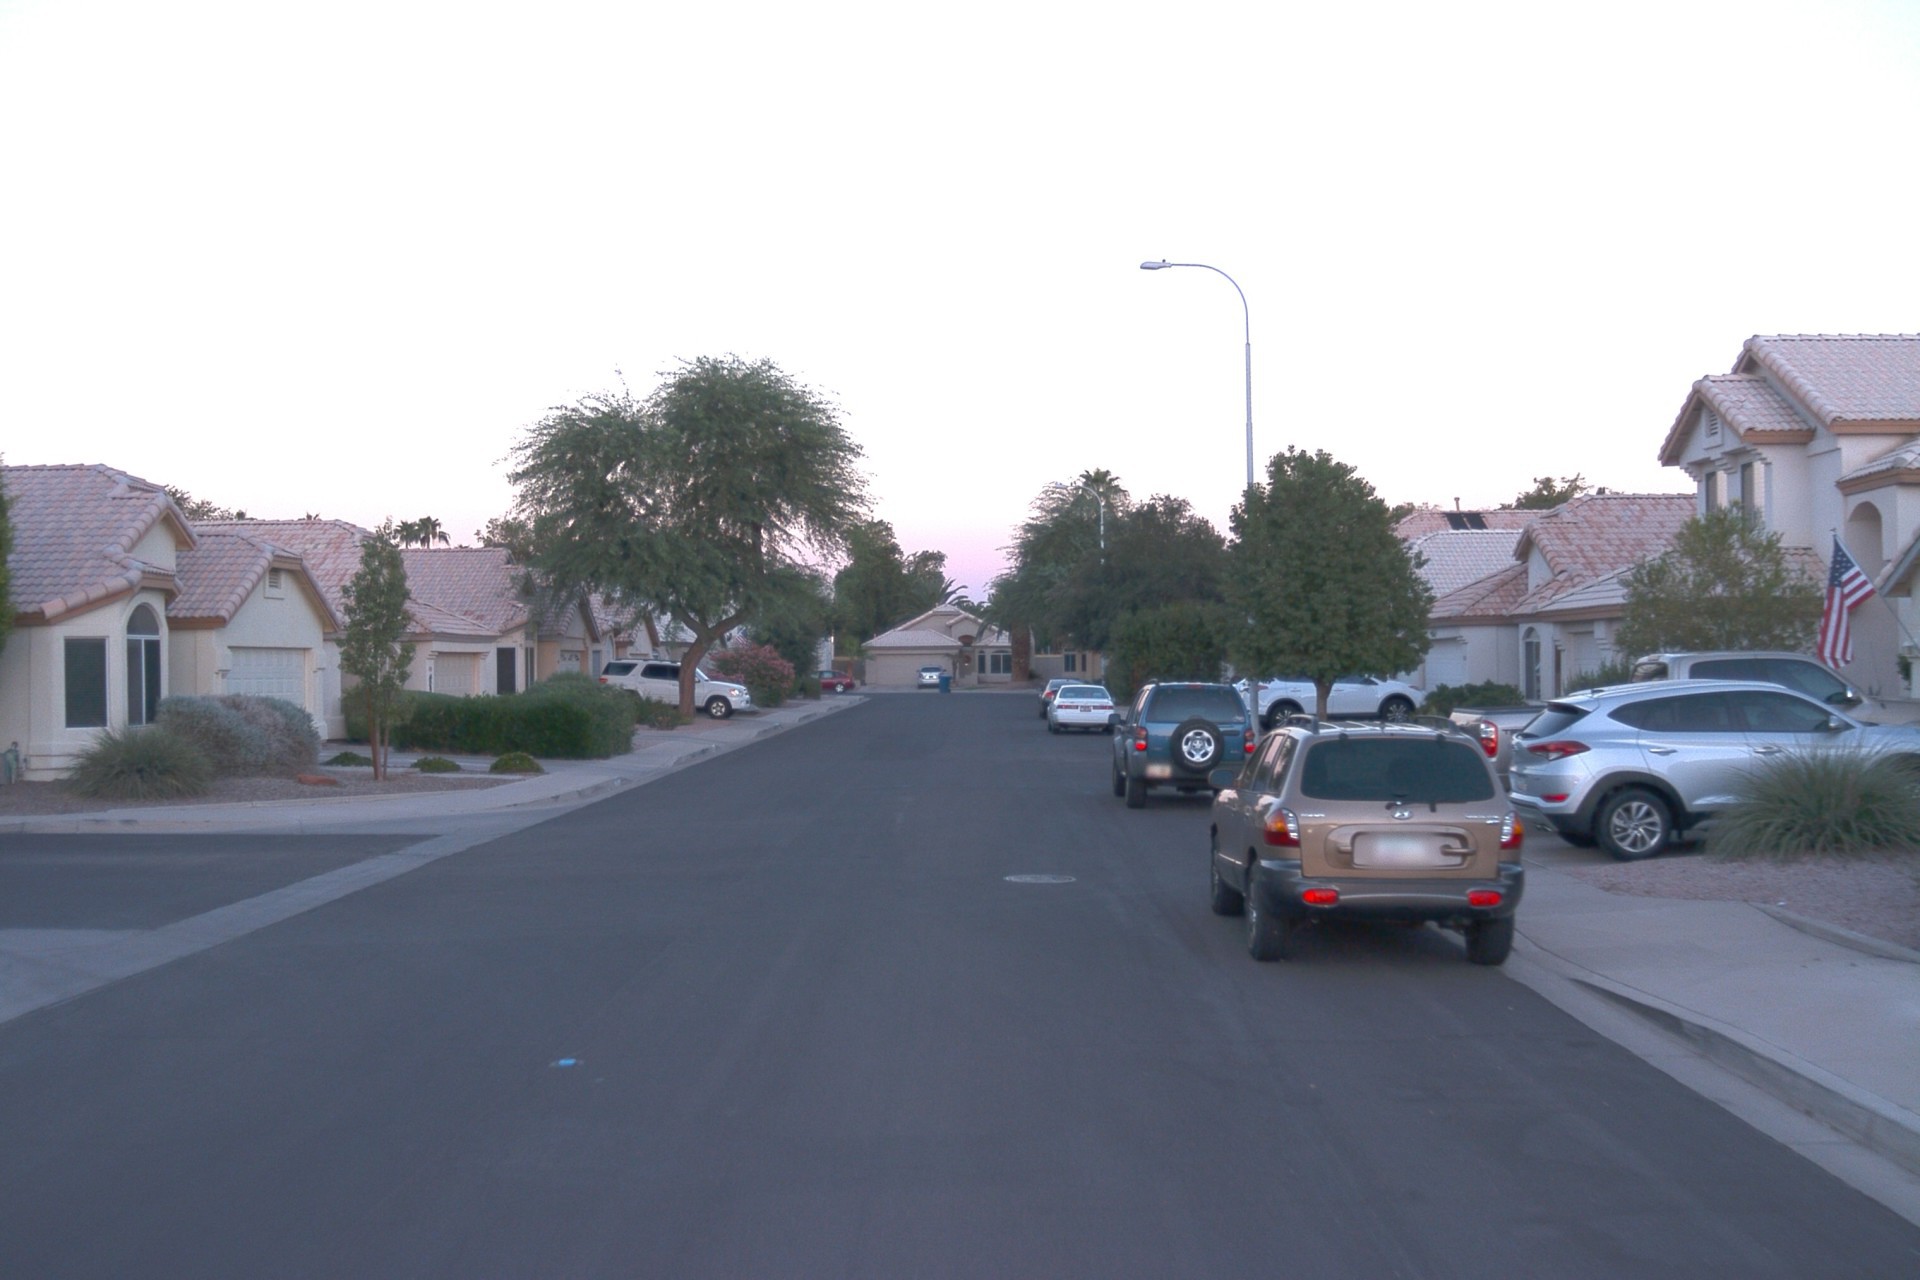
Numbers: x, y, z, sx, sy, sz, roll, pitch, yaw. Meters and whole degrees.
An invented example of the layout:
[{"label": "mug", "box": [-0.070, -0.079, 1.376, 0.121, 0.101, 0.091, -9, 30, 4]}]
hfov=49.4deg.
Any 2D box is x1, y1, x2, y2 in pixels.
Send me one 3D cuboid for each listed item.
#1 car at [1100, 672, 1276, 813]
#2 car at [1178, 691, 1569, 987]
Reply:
[{"label": "car", "box": [3.224, 1.413, 30.447, 2.113, 1.870, 4.649, 0, -1, 1]}, {"label": "car", "box": [2.943, 1.352, 16.006, 2.117, 1.840, 4.827, 0, -1, 1]}]
